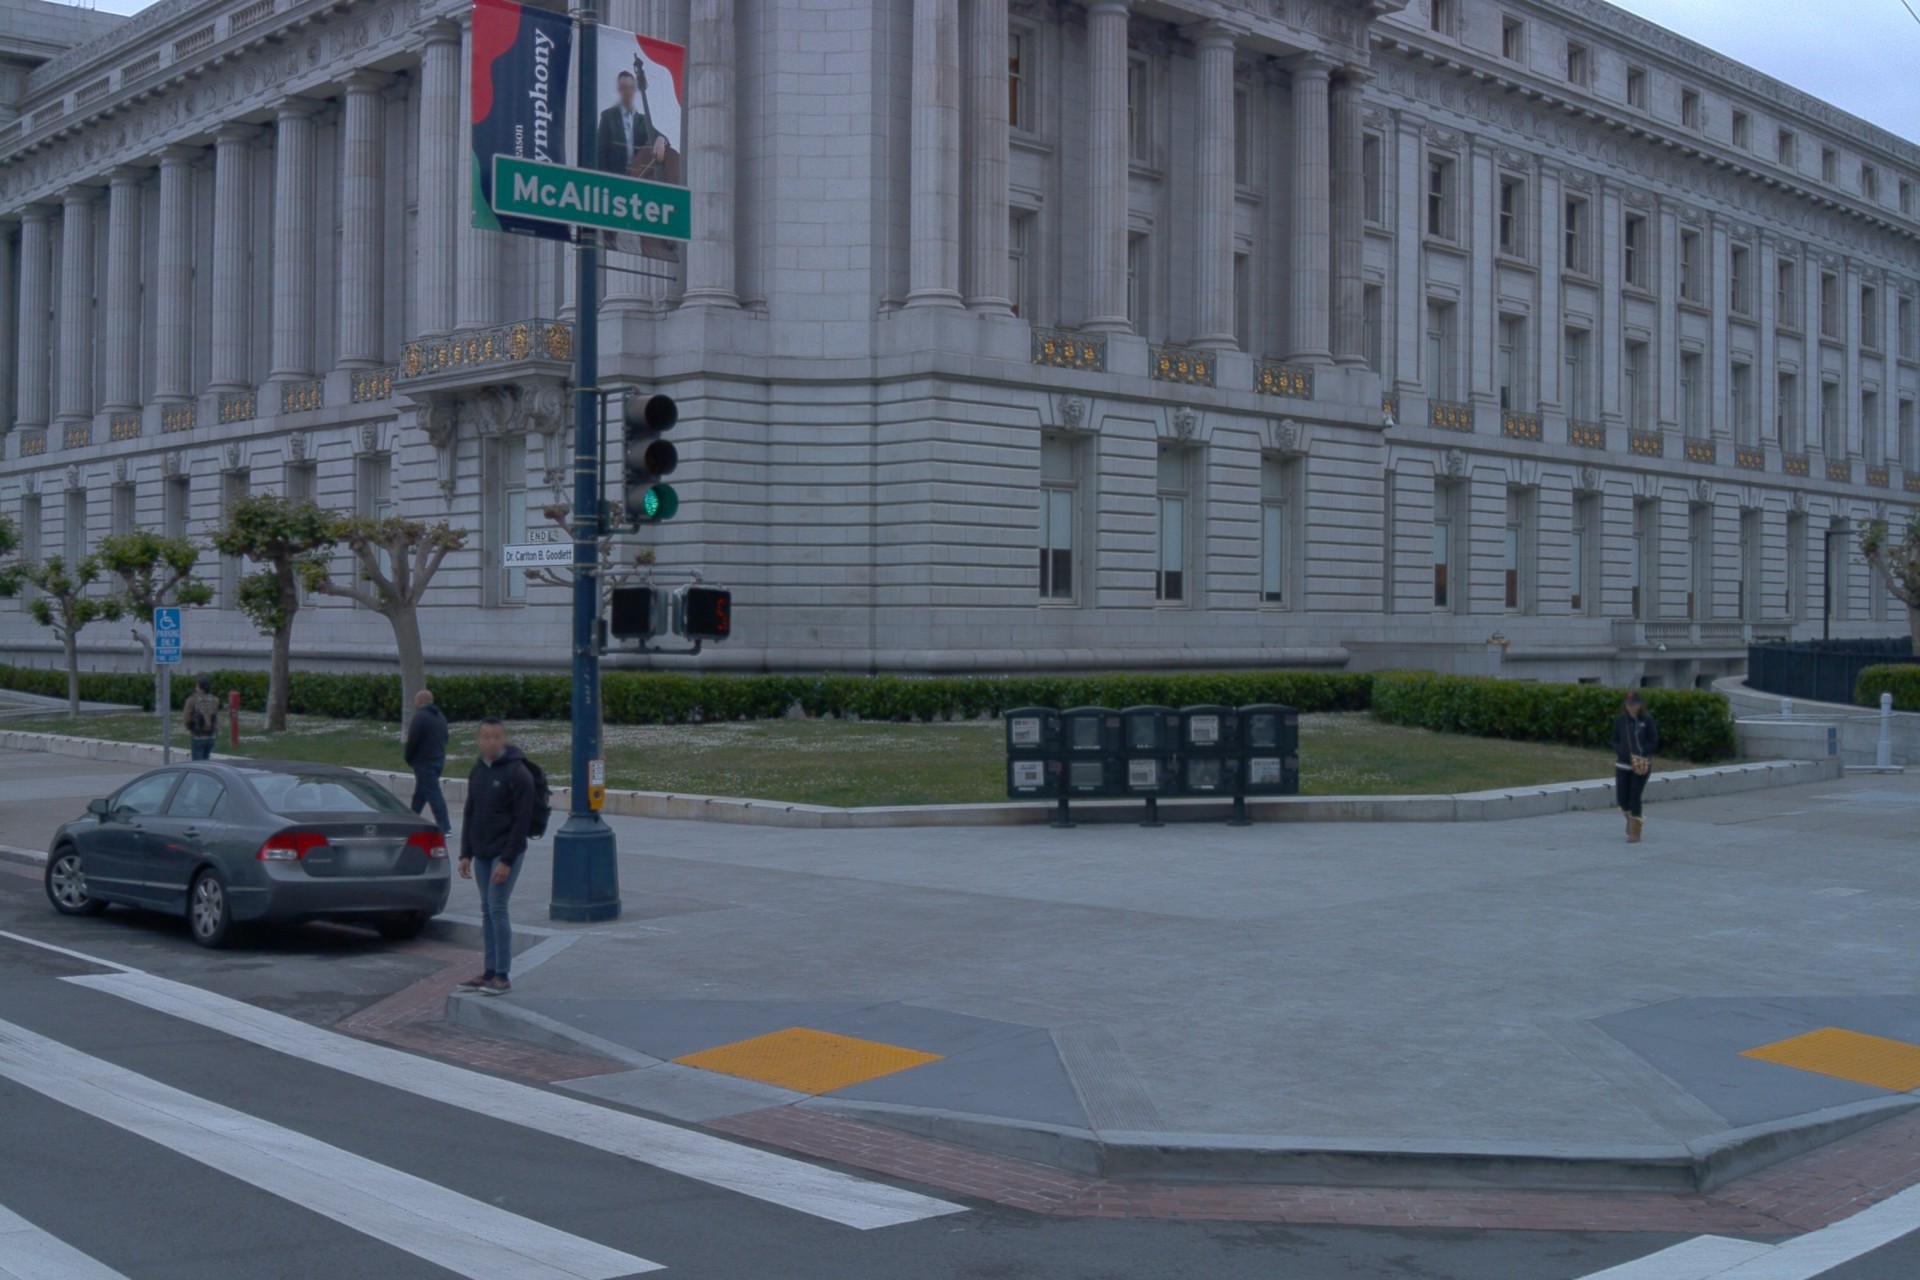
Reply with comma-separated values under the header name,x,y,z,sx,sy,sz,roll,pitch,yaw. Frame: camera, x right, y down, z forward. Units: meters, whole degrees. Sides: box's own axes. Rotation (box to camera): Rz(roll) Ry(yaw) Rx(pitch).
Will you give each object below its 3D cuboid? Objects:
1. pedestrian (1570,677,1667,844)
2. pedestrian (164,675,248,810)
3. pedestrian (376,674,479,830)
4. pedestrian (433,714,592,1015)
name,x,y,z,sx,sy,sz,roll,pitch,yaw
pedestrian,6.922,1.246,21.701,0.673,1.681,0.864,1,1,42
pedestrian,-10.567,1.419,28.948,0.736,1.815,1.004,-1,1,-45
pedestrian,-6.183,1.287,24.005,0.919,1.757,0.758,0,1,13
pedestrian,-2.794,1.364,12.888,0.931,1.760,0.833,0,1,-13
